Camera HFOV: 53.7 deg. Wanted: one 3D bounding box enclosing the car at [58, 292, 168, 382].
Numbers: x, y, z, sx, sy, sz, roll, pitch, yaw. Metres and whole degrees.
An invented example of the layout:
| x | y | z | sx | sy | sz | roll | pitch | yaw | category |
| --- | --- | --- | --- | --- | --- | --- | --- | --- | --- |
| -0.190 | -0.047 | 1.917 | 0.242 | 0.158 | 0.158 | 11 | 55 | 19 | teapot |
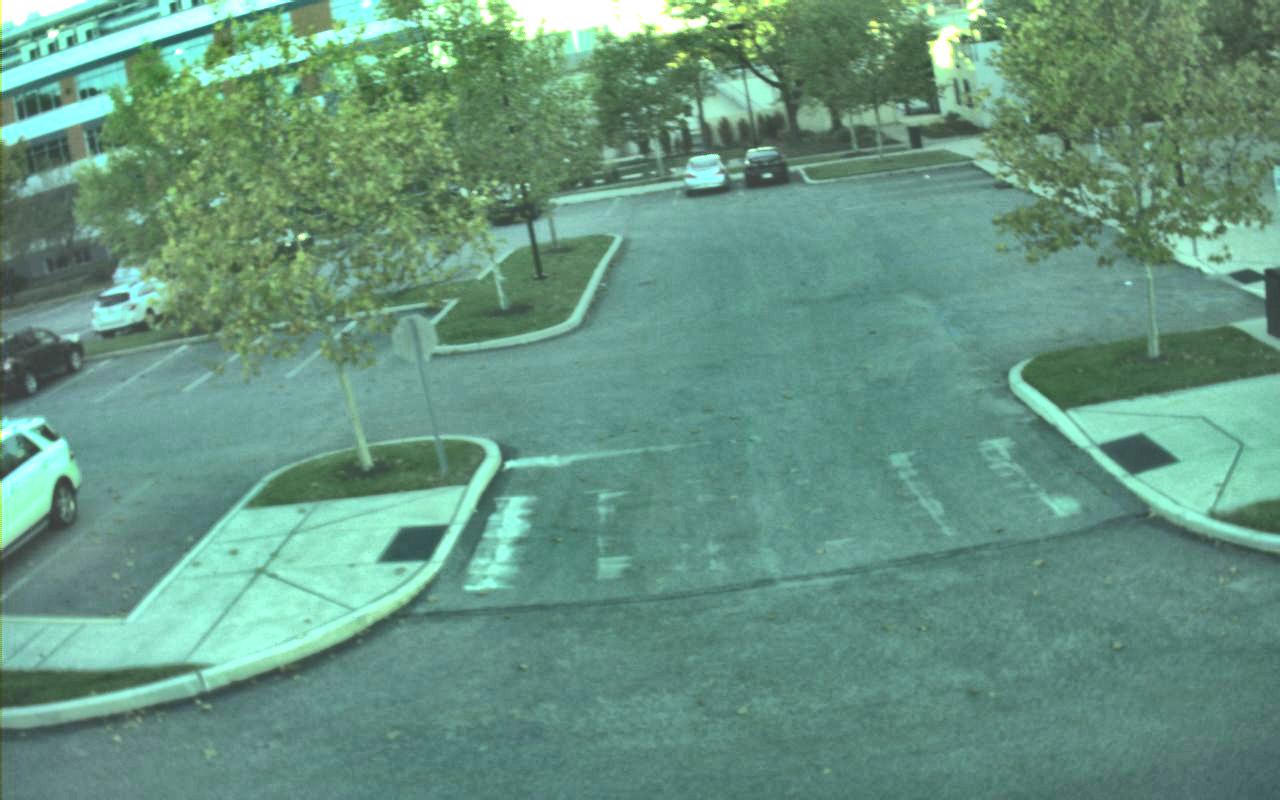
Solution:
| x | y | z | sx | sy | sz | roll | pitch | yaw | category |
| --- | --- | --- | --- | --- | --- | --- | --- | --- | --- |
| -17.024 | -1.998 | 37.698 | 2.031 | 1.779 | 4.733 | -1 | 16 | -1 | car |

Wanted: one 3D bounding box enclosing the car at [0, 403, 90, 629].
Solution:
| x | y | z | sx | sy | sz | roll | pitch | yaw | category |
| --- | --- | --- | --- | --- | --- | --- | --- | --- | --- |
| -9.925 | 1.607 | 16.018 | 1.989 | 1.736 | 4.632 | -1 | 16 | 2 | car |
